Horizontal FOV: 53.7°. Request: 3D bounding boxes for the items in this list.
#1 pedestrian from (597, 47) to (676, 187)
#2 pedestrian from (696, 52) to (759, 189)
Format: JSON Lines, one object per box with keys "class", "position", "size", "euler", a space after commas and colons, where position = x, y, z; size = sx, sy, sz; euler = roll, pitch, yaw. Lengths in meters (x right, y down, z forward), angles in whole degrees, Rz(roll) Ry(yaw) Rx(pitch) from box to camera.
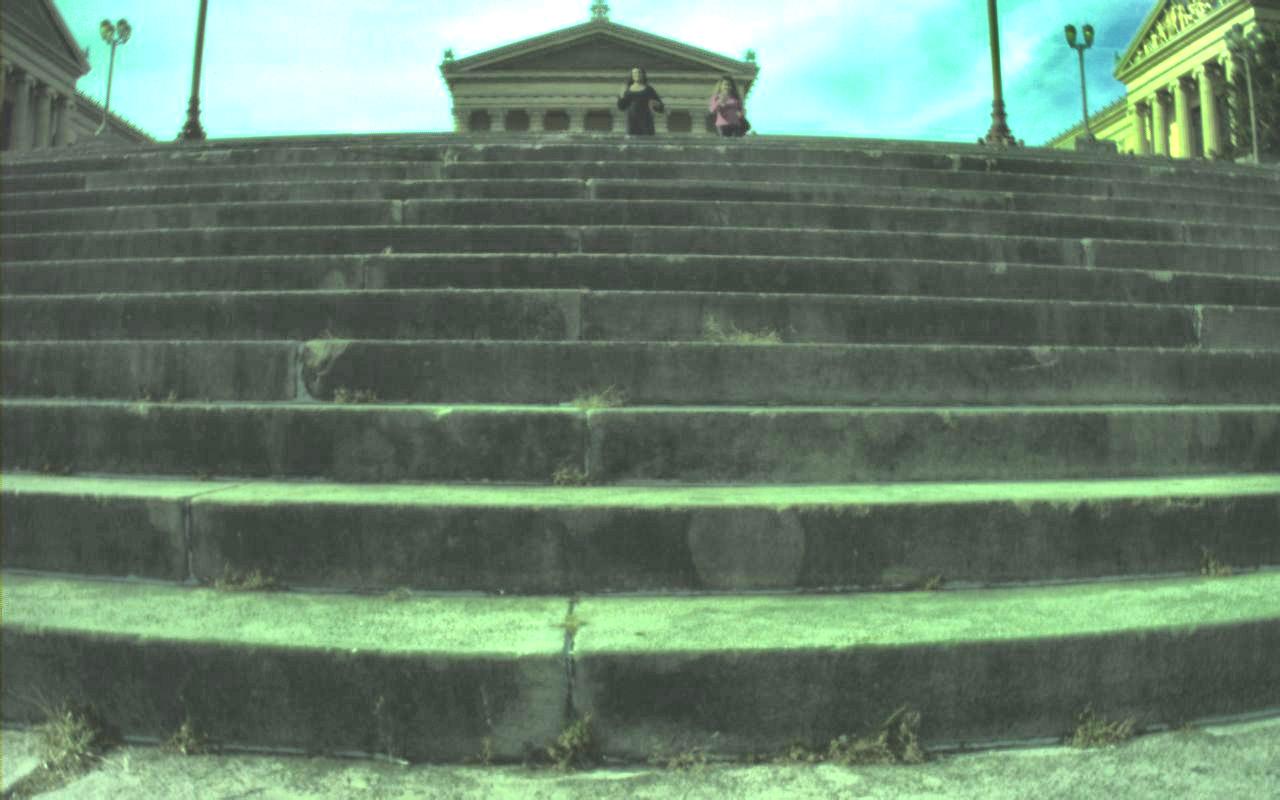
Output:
{"class": "pedestrian", "position": [-0.040, -3.968, 17.572], "size": [0.811, 1.831, 0.842], "euler": [1, 0, 24]}
{"class": "pedestrian", "position": [1.201, -3.785, 16.928], "size": [0.807, 1.760, 0.822], "euler": [0, 0, 7]}
